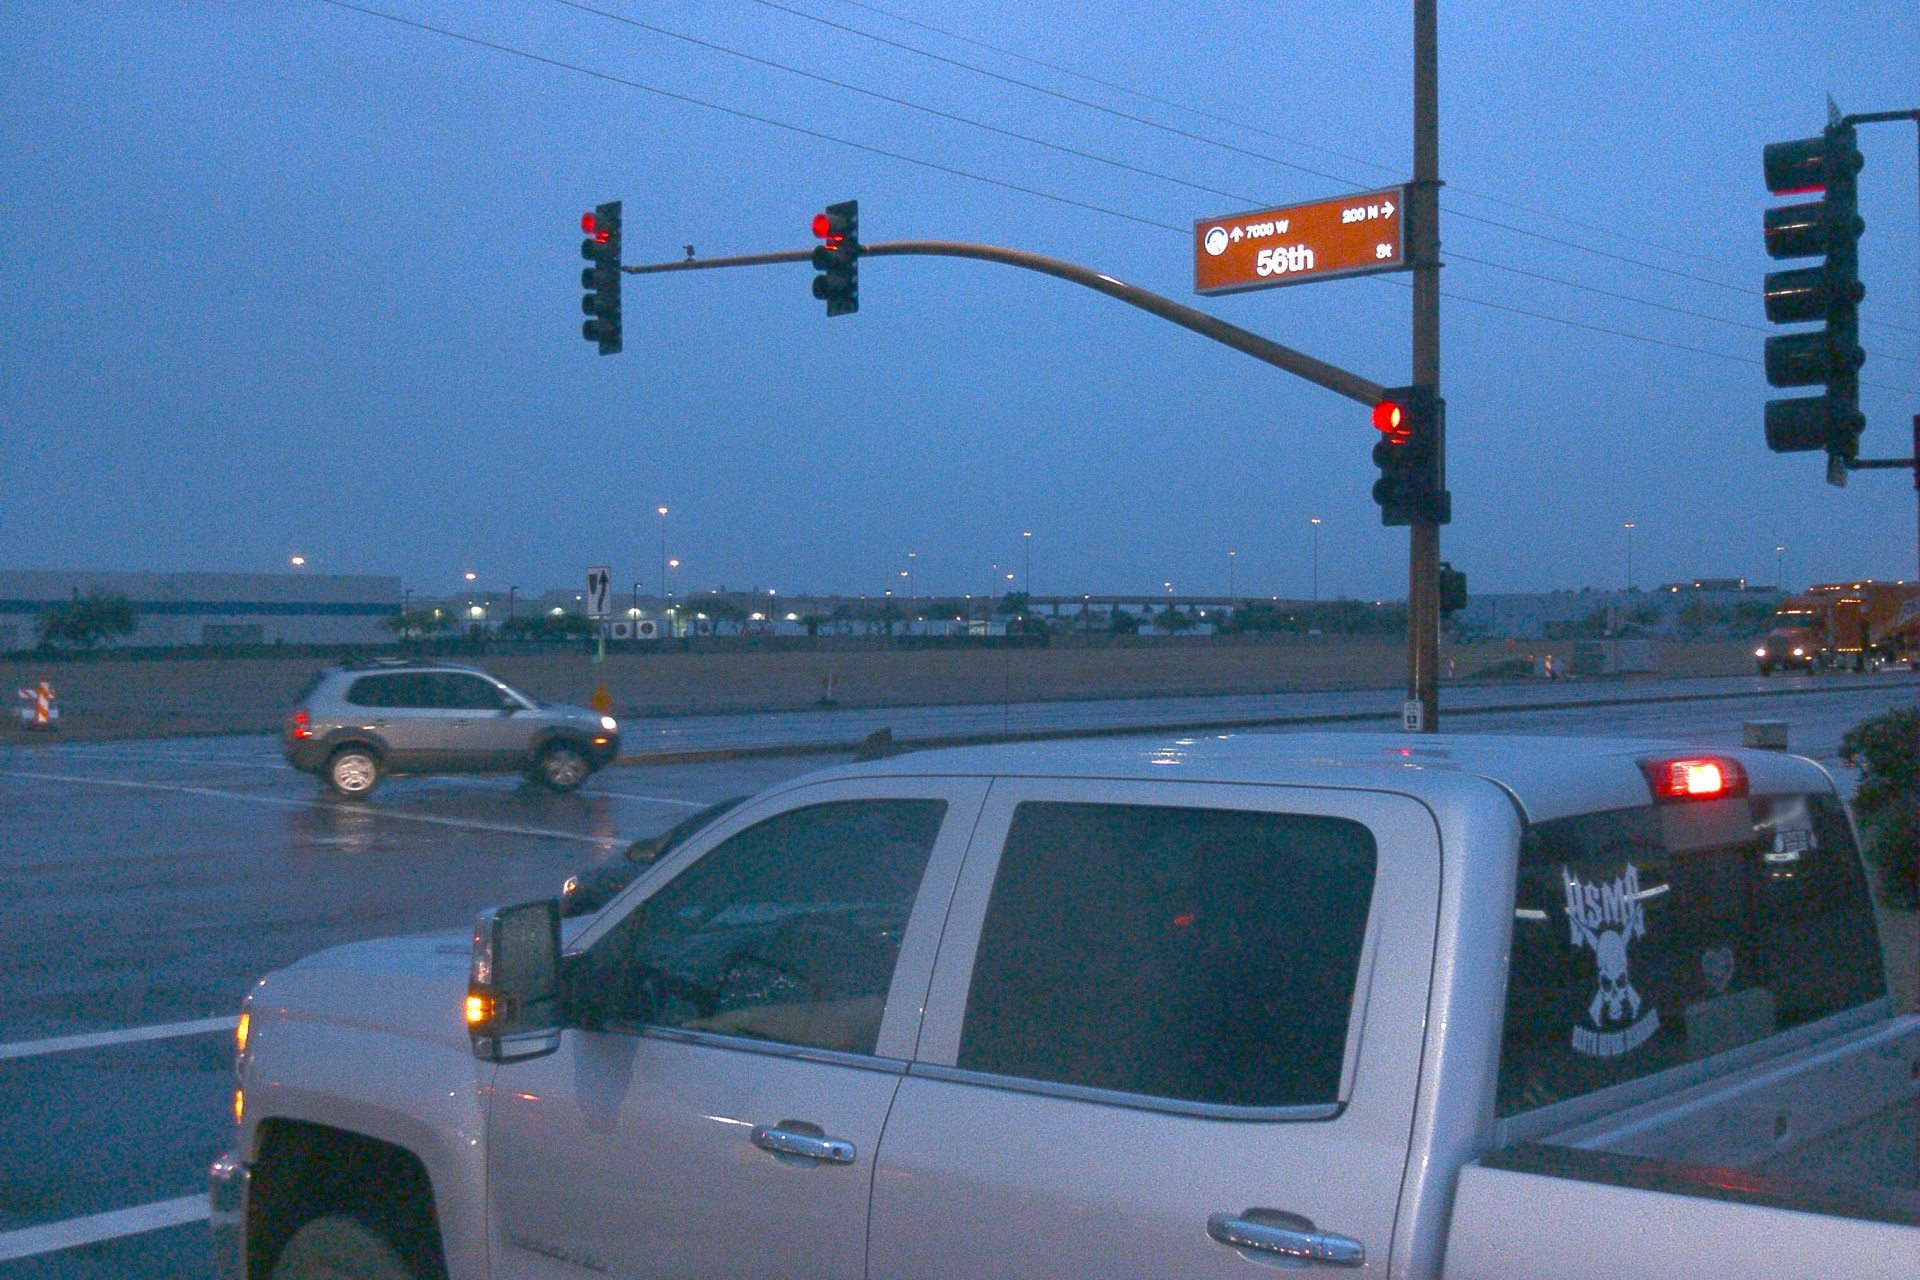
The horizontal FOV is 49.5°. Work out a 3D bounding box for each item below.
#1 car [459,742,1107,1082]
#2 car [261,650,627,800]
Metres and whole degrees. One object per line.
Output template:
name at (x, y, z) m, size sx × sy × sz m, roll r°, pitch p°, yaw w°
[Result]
car at (-1.282, 1.416, 12.420) m, size 2.112 × 1.430 × 4.546 m, roll 0°, pitch -1°, yaw -30°
car at (-6.673, 1.049, 26.882) m, size 4.309 × 1.810 × 2.073 m, roll 0°, pitch 0°, yaw -22°
